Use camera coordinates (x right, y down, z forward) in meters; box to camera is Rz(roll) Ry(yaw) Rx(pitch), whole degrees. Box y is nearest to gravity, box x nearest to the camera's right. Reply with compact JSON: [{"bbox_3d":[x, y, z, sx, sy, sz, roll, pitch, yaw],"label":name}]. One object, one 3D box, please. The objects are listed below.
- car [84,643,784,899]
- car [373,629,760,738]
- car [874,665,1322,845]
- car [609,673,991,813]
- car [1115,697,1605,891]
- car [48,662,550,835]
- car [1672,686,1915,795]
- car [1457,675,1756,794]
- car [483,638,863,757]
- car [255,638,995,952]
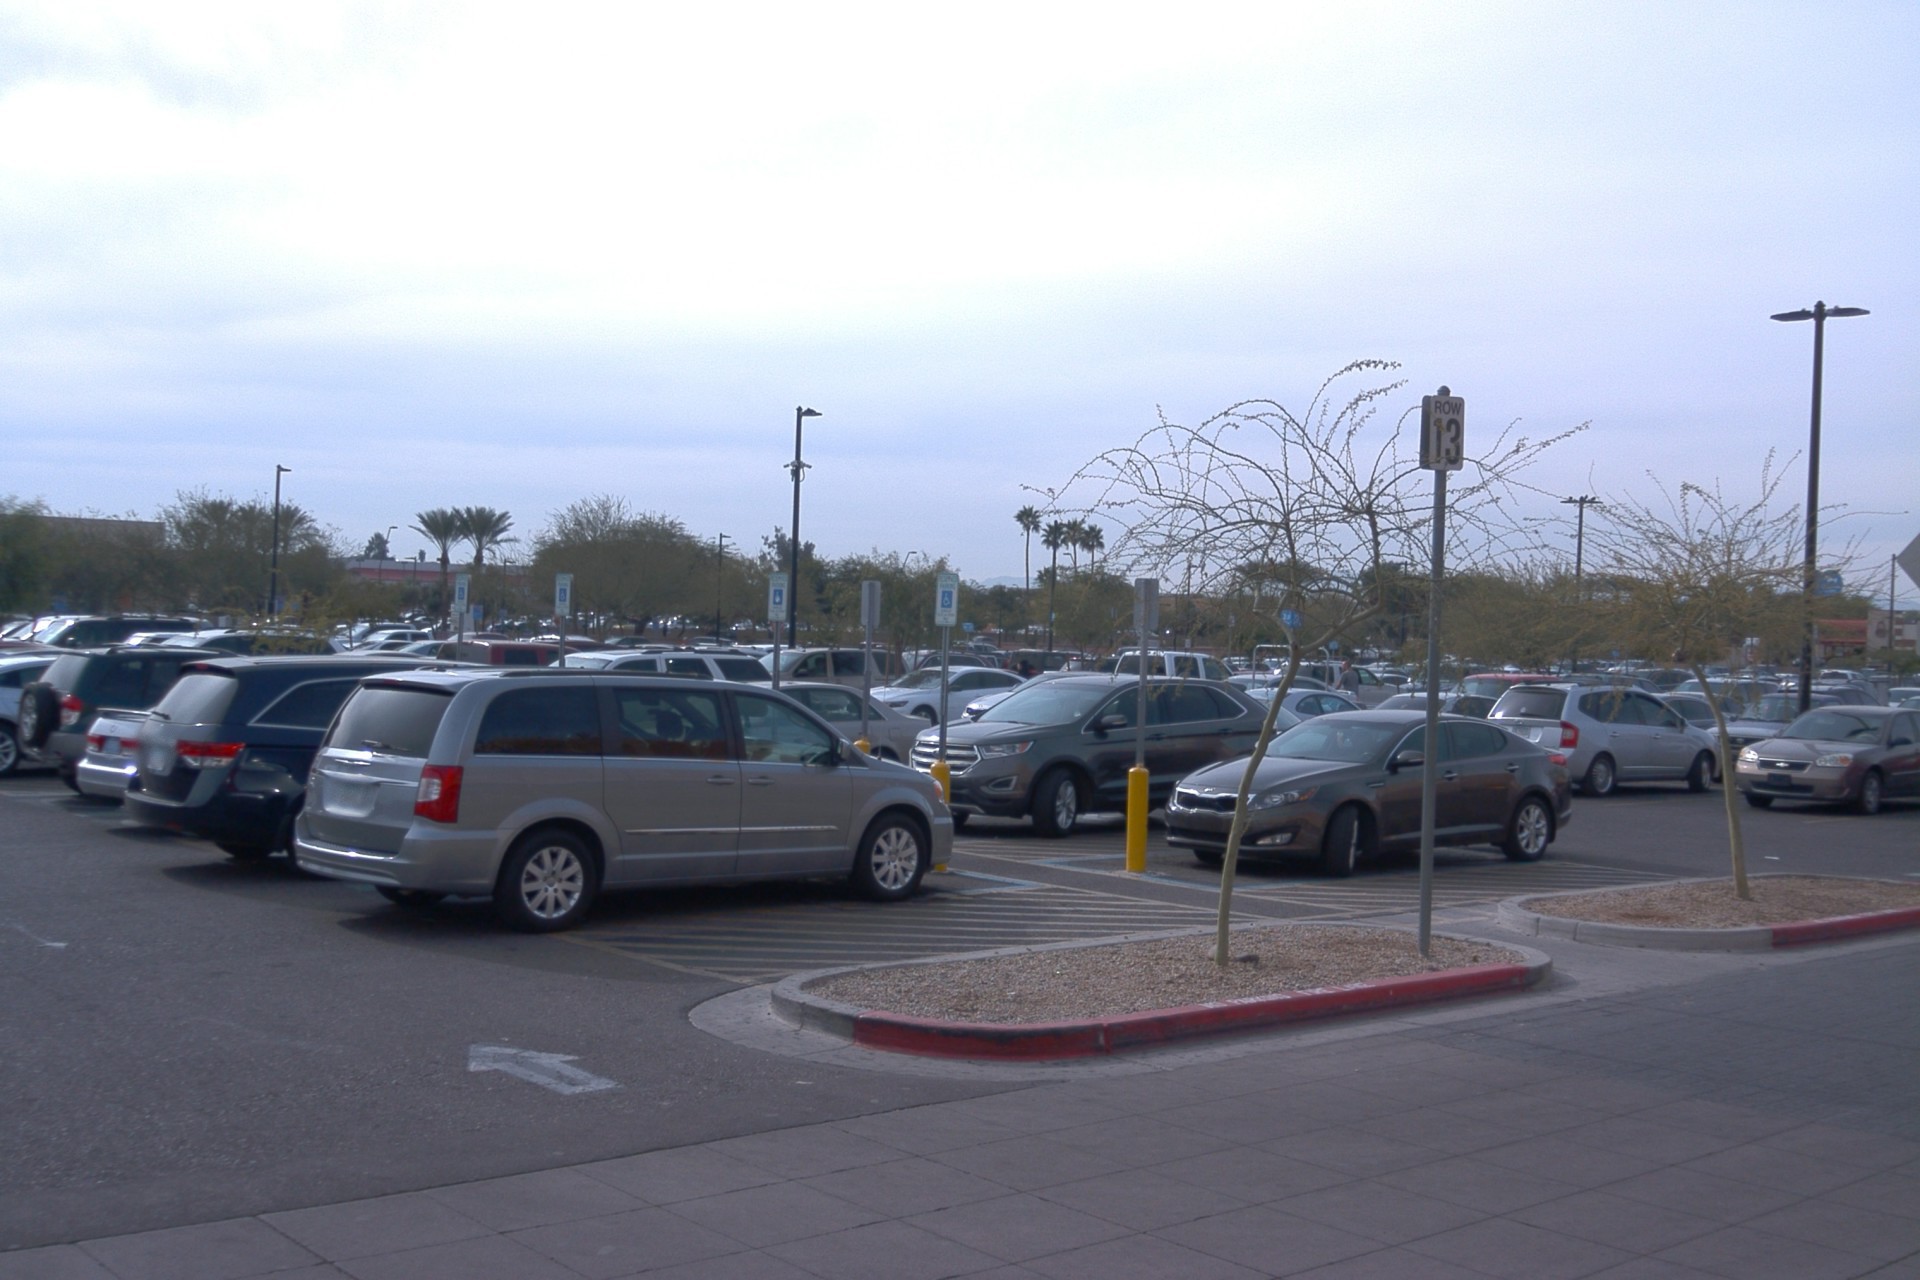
[{"bbox_3d":[-4.324,1.010,17.729,5.324,1.850,2.261,2,-1,-43],"label":"car"},{"bbox_3d":[-5.625,0.630,30.076,5.056,1.450,2.220,2,-1,-42],"label":"car"},{"bbox_3d":[1.603,1.192,22.825,4.789,1.740,2.142,2,-1,-42],"label":"car"},{"bbox_3d":[-1.910,1.230,25.853,2.059,1.550,4.458,0,-1,45],"label":"car"},{"bbox_3d":[3.971,1.392,20.115,4.784,1.610,2.143,2,-1,-41],"label":"car"},{"bbox_3d":[-6.404,1.010,20.407,4.279,1.500,1.896,2,-1,-43],"label":"car"},{"bbox_3d":[14.296,1.678,35.488,4.419,1.690,2.034,2,-1,-41],"label":"car"},{"bbox_3d":[9.982,1.413,31.871,4.752,1.660,2.105,2,-1,-40],"label":"car"},{"bbox_3d":[-3.798,0.765,28.041,4.748,1.460,2.027,2,-1,-43],"label":"car"},{"bbox_3d":[-2.297,1.011,15.361,5.067,1.930,2.133,2,-1,-44],"label":"car"}]
